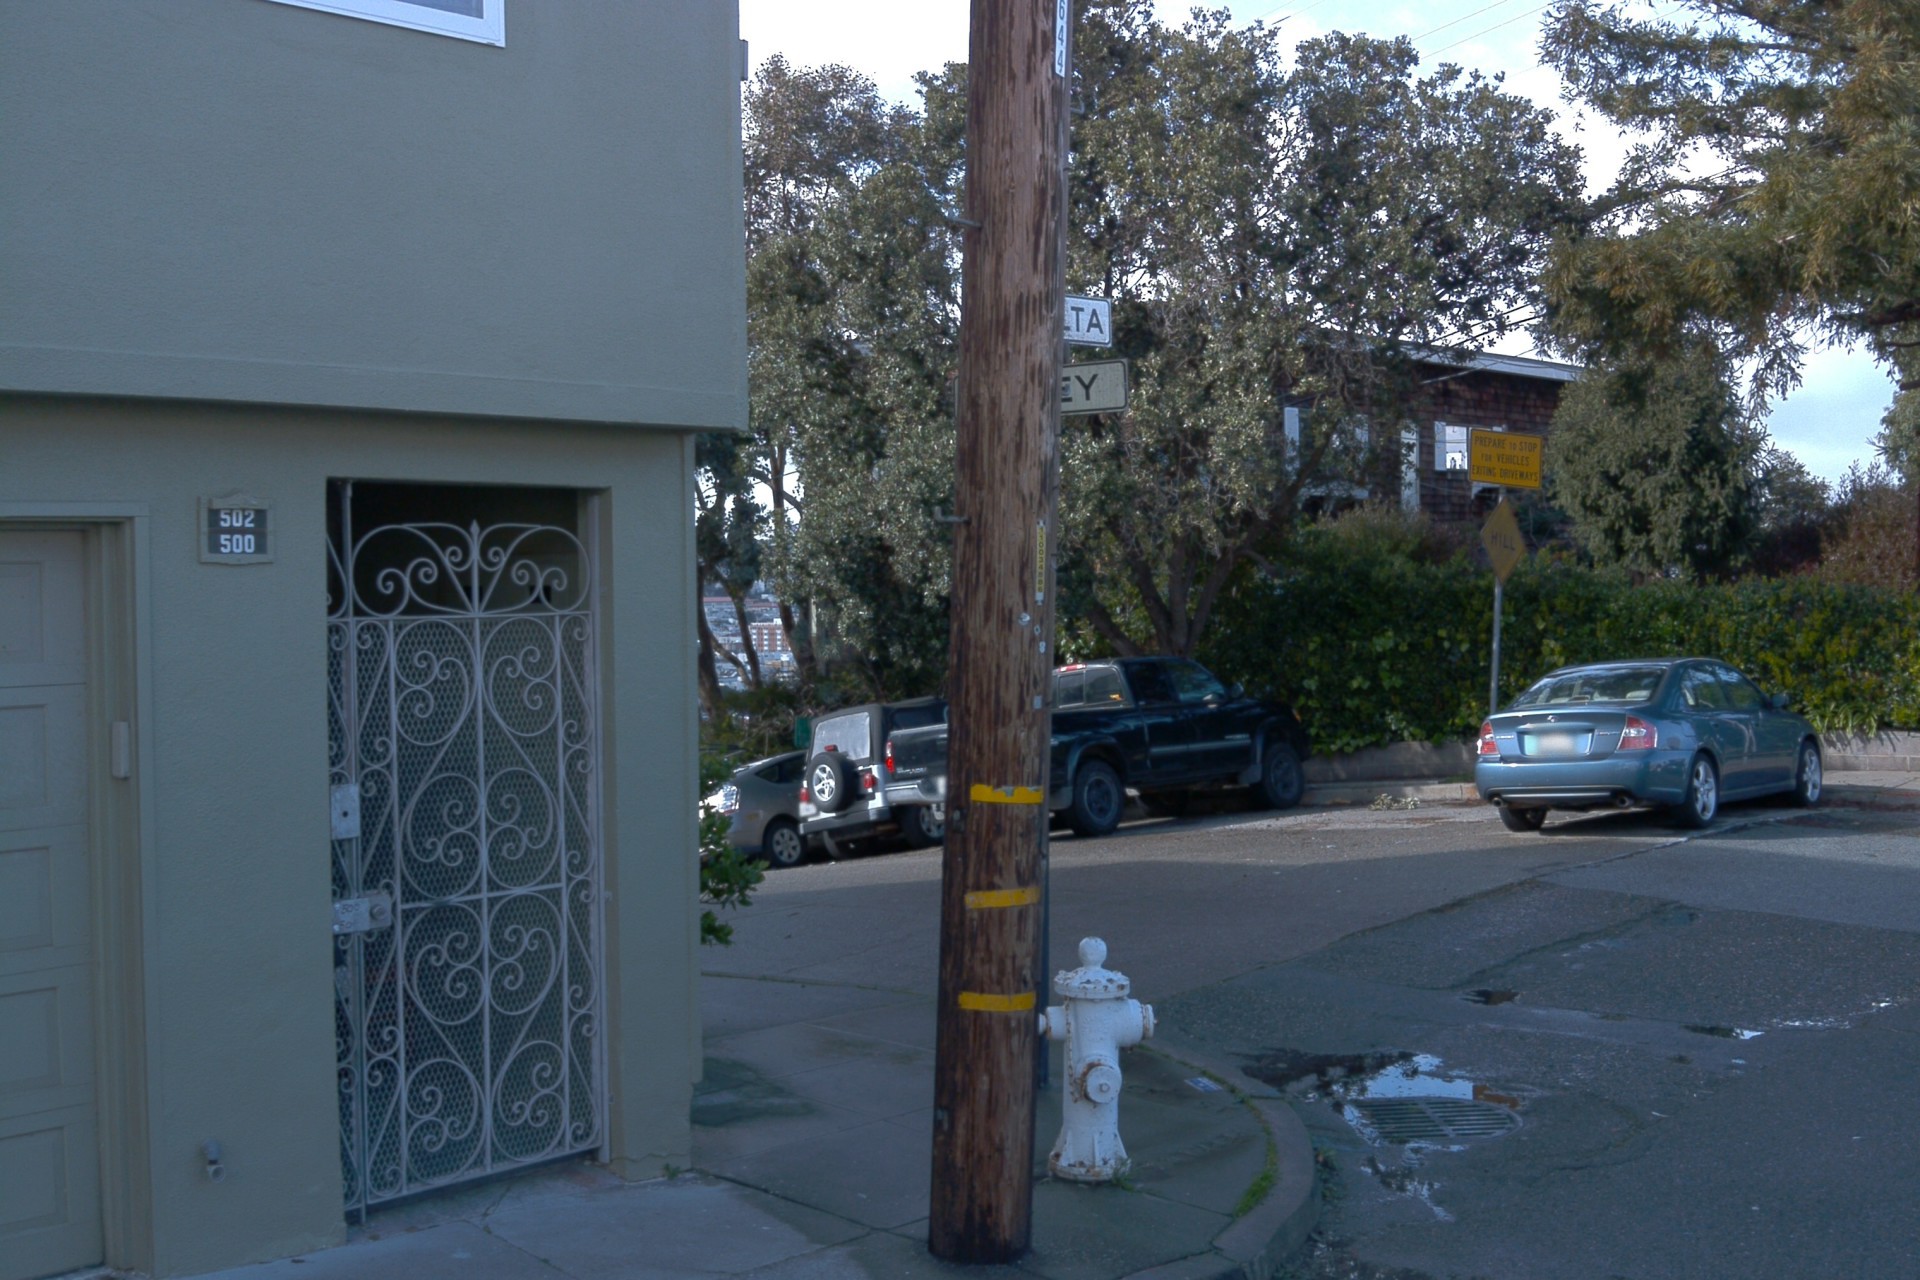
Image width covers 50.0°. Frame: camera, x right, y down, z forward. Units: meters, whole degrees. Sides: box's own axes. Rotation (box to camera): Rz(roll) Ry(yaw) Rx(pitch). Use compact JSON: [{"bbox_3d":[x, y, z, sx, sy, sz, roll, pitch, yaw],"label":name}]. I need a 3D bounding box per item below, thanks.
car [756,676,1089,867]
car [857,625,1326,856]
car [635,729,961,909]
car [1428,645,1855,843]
[{"bbox_3d":[-0.393,1.485,24.673,3.837,2.000,1.720,0,1,-44],"label":"car"},{"bbox_3d":[1.570,0.950,22.357,2.073,2.190,5.451,1,1,43],"label":"car"},{"bbox_3d":[-1.975,2.158,25.784,3.842,1.880,1.735,0,1,-44],"label":"car"},{"bbox_3d":[6.070,0.800,17.984,1.903,1.450,4.521,1,1,42],"label":"car"}]
